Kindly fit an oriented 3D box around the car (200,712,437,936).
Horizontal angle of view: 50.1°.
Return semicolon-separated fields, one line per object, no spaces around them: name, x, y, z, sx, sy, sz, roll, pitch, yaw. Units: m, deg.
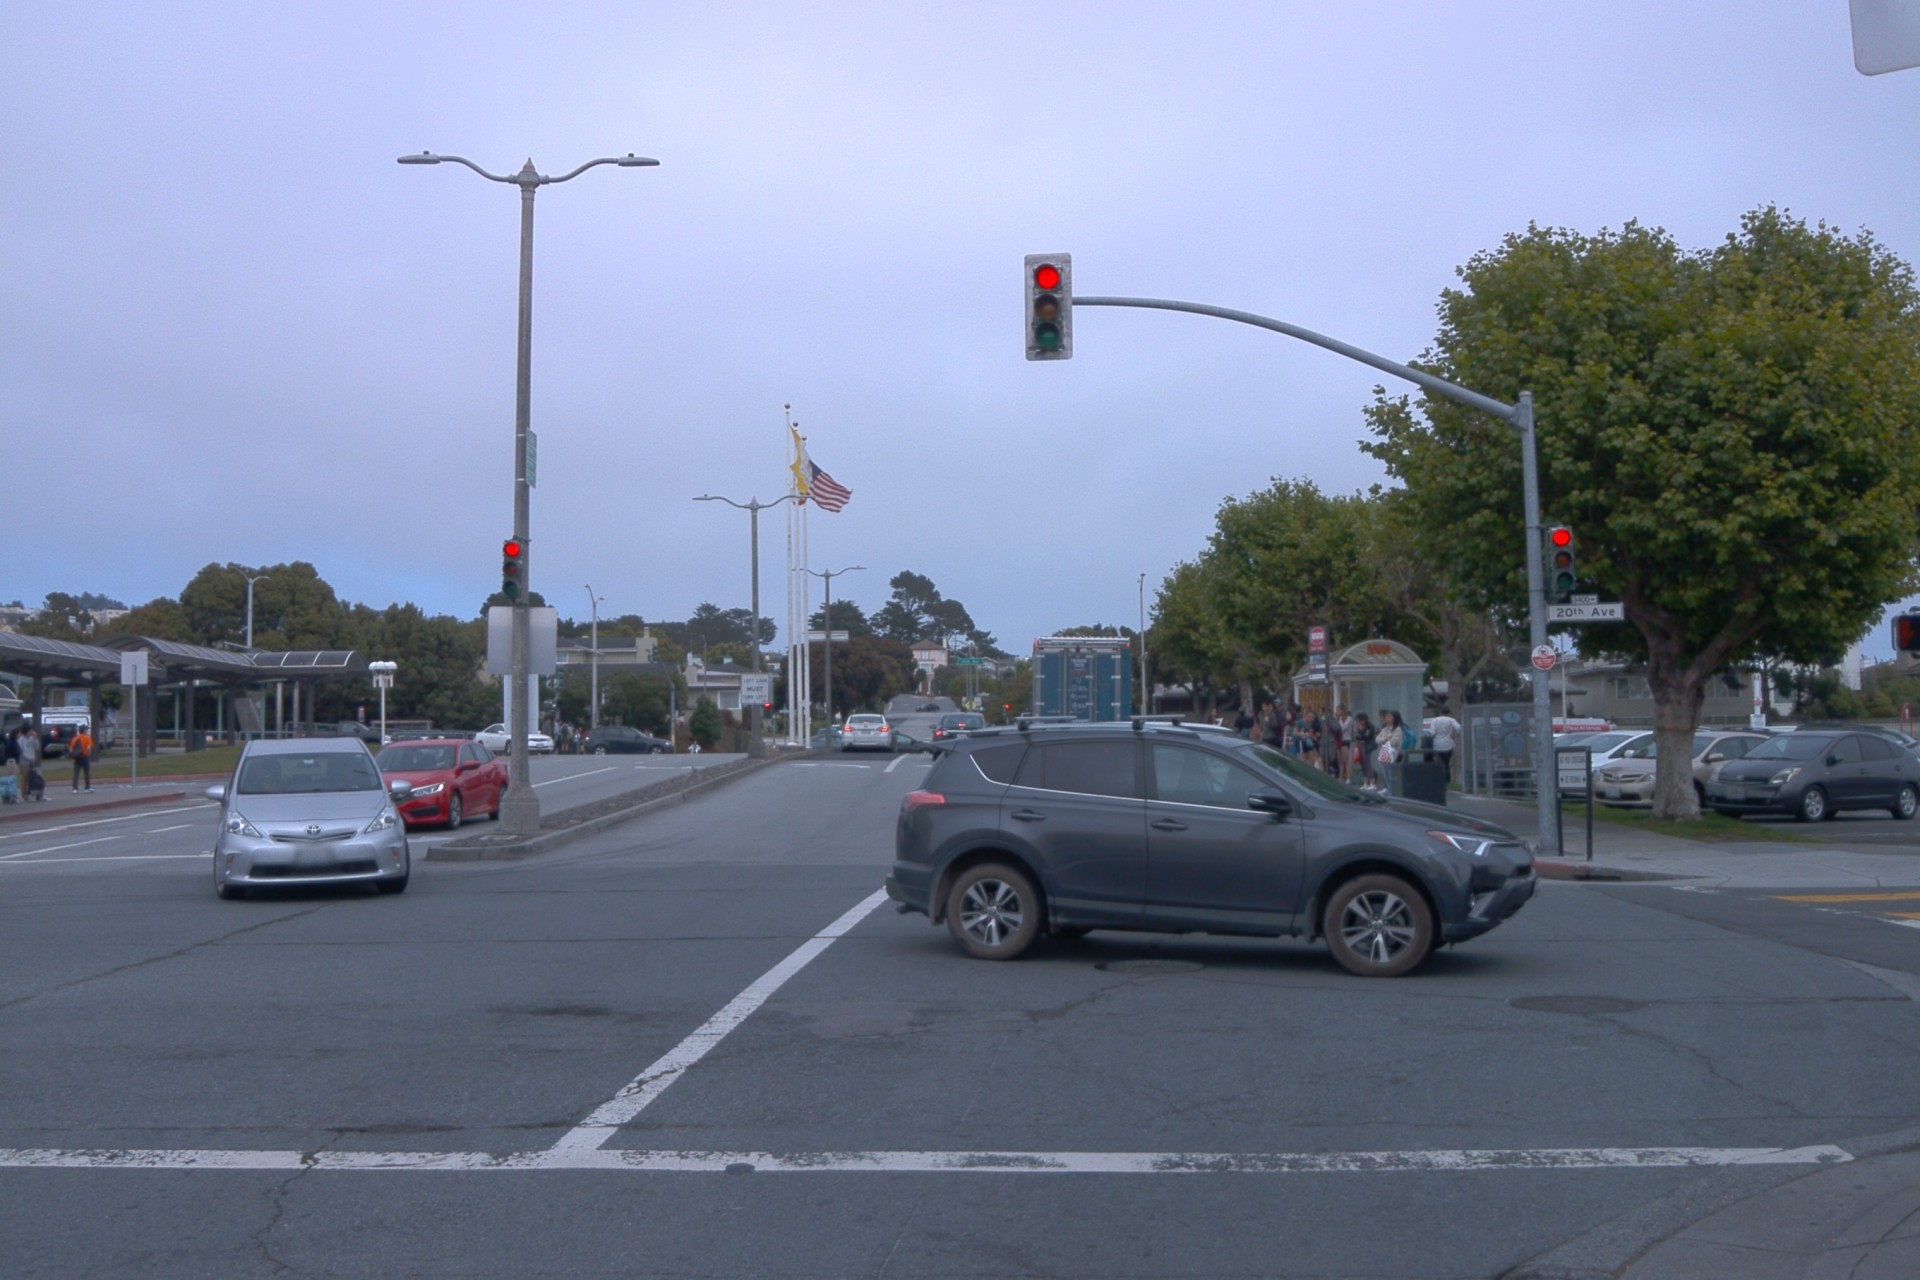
car;-6.842;1.795;21.580;2.102;1.825;4.697;0;1;-20

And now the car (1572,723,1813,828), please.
car;12.847;2.327;36.018;3.959;1.540;1.985;-1;1;-33

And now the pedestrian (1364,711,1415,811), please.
pedestrian;7.515;2.109;35.979;0.605;1.700;0.727;0;1;-14

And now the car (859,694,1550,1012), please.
car;1.796;1.404;14.898;4.600;1.889;2.098;0;1;22

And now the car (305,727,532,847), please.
car;-8.531;2.278;32.858;2.283;1.526;4.648;0;1;2
